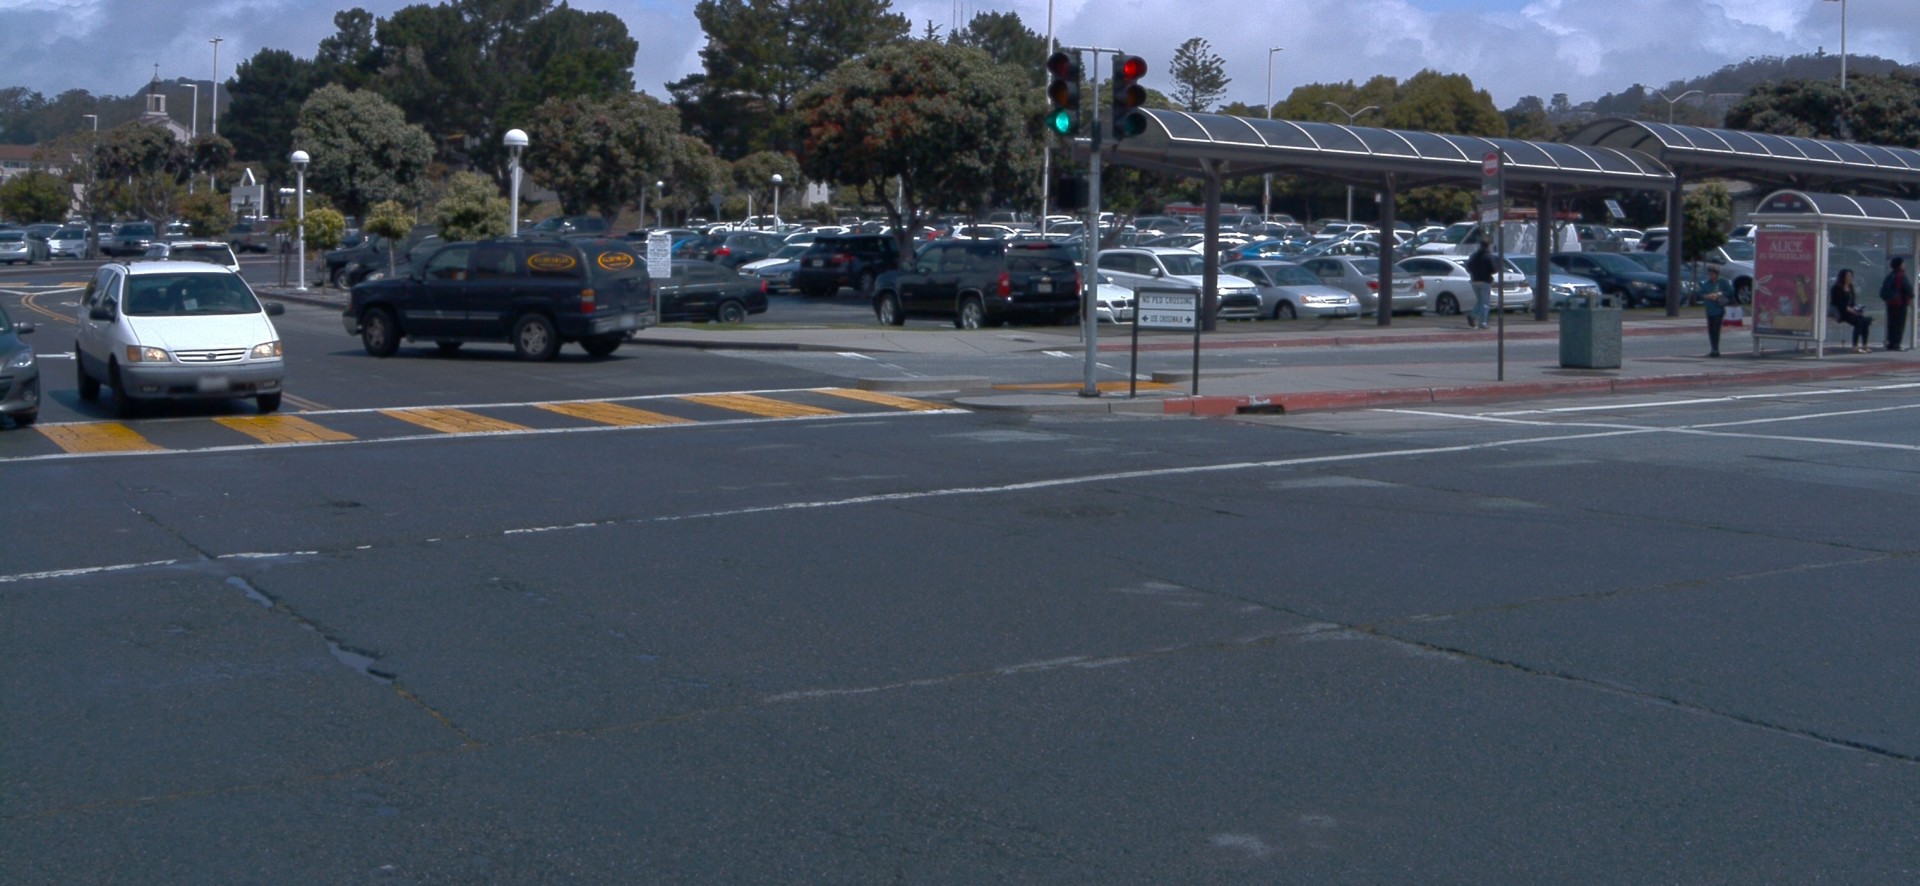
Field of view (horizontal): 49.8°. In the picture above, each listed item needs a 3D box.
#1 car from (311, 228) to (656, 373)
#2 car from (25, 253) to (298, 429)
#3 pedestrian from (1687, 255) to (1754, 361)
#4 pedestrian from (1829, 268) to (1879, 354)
[{"bbox_3d":[-7.420,-2.279,32.175,4.904,2.080,2.157,2,5,24],"label":"car"},{"bbox_3d":[-9.460,-1.305,24.265,2.030,1.742,4.624,-3,6,-33],"label":"car"},{"bbox_3d":[12.595,-2.243,34.227,0.831,1.696,0.780,1,3,39],"label":"pedestrian"},{"bbox_3d":[15.091,-2.238,34.903,0.526,1.397,0.591,-2,2,-34],"label":"pedestrian"}]
